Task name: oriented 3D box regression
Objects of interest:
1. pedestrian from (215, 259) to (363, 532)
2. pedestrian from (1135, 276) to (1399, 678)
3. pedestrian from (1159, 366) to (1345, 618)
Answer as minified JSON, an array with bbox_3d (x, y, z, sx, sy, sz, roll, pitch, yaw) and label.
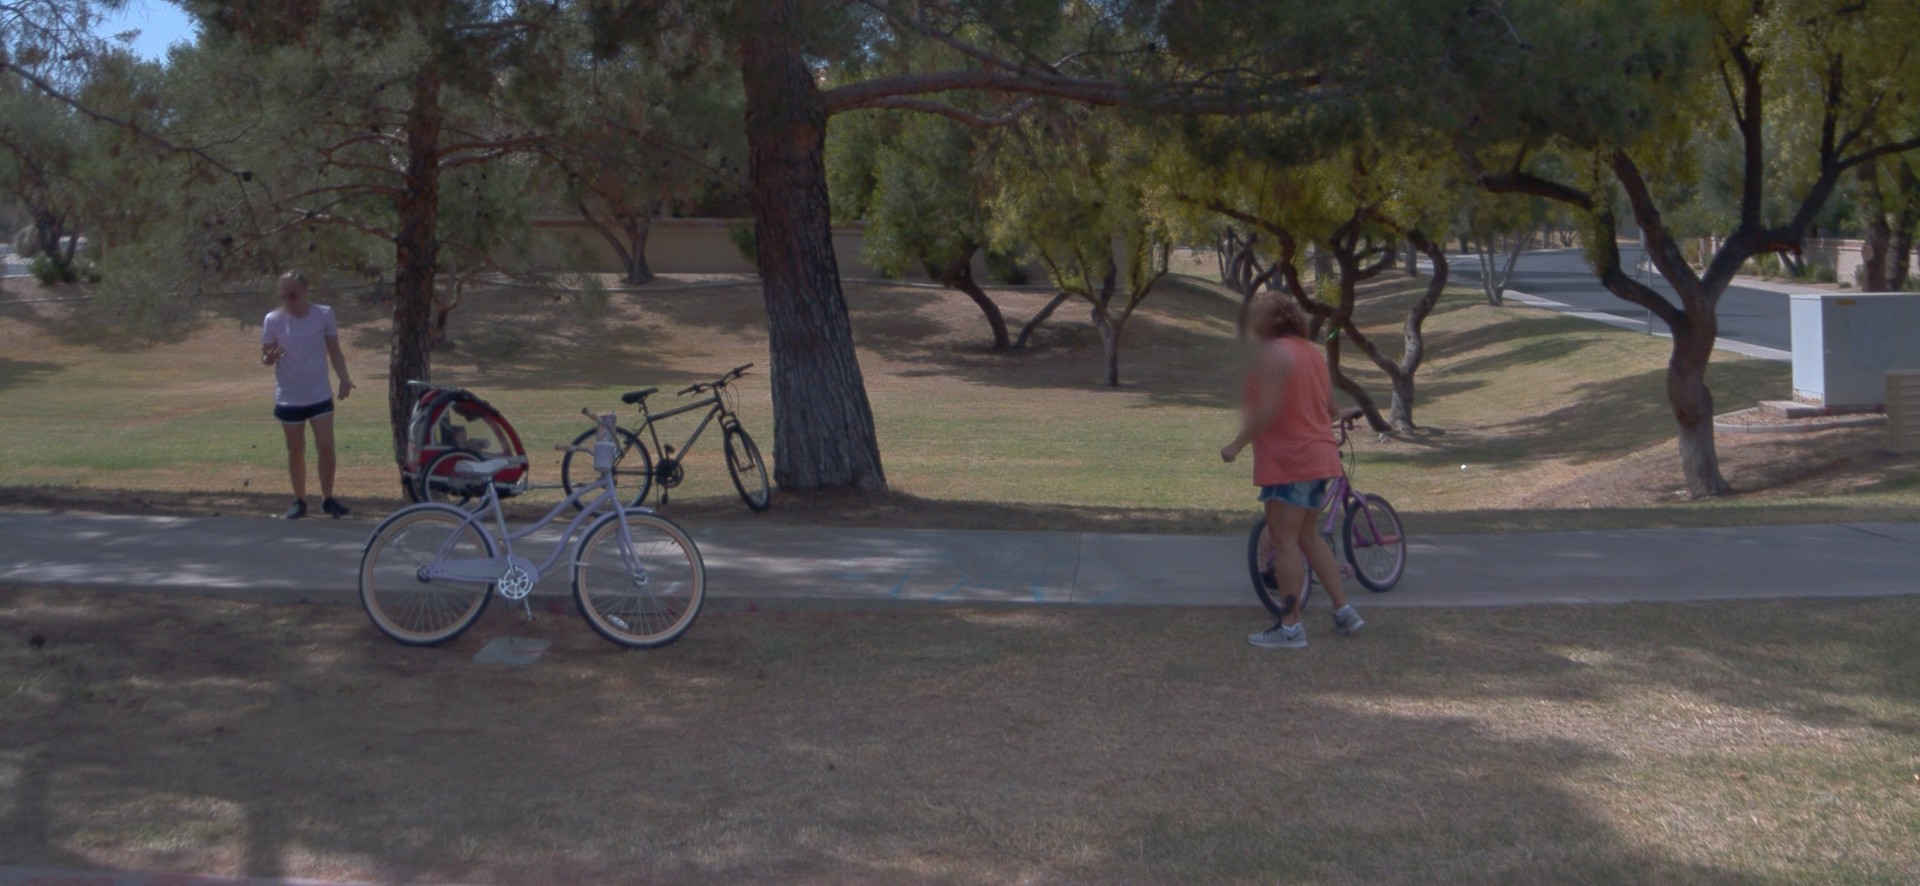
[{"bbox_3d":[-4.372,-0.346,13.618,0.833,1.712,0.900,0,1,-13],"label":"pedestrian"},{"bbox_3d":[1.390,0.098,9.586,0.895,1.722,1.038,0,1,-12],"label":"pedestrian"},{"bbox_3d":[1.489,0.220,10.641,0.599,1.181,0.730,0,1,-41],"label":"pedestrian"}]
